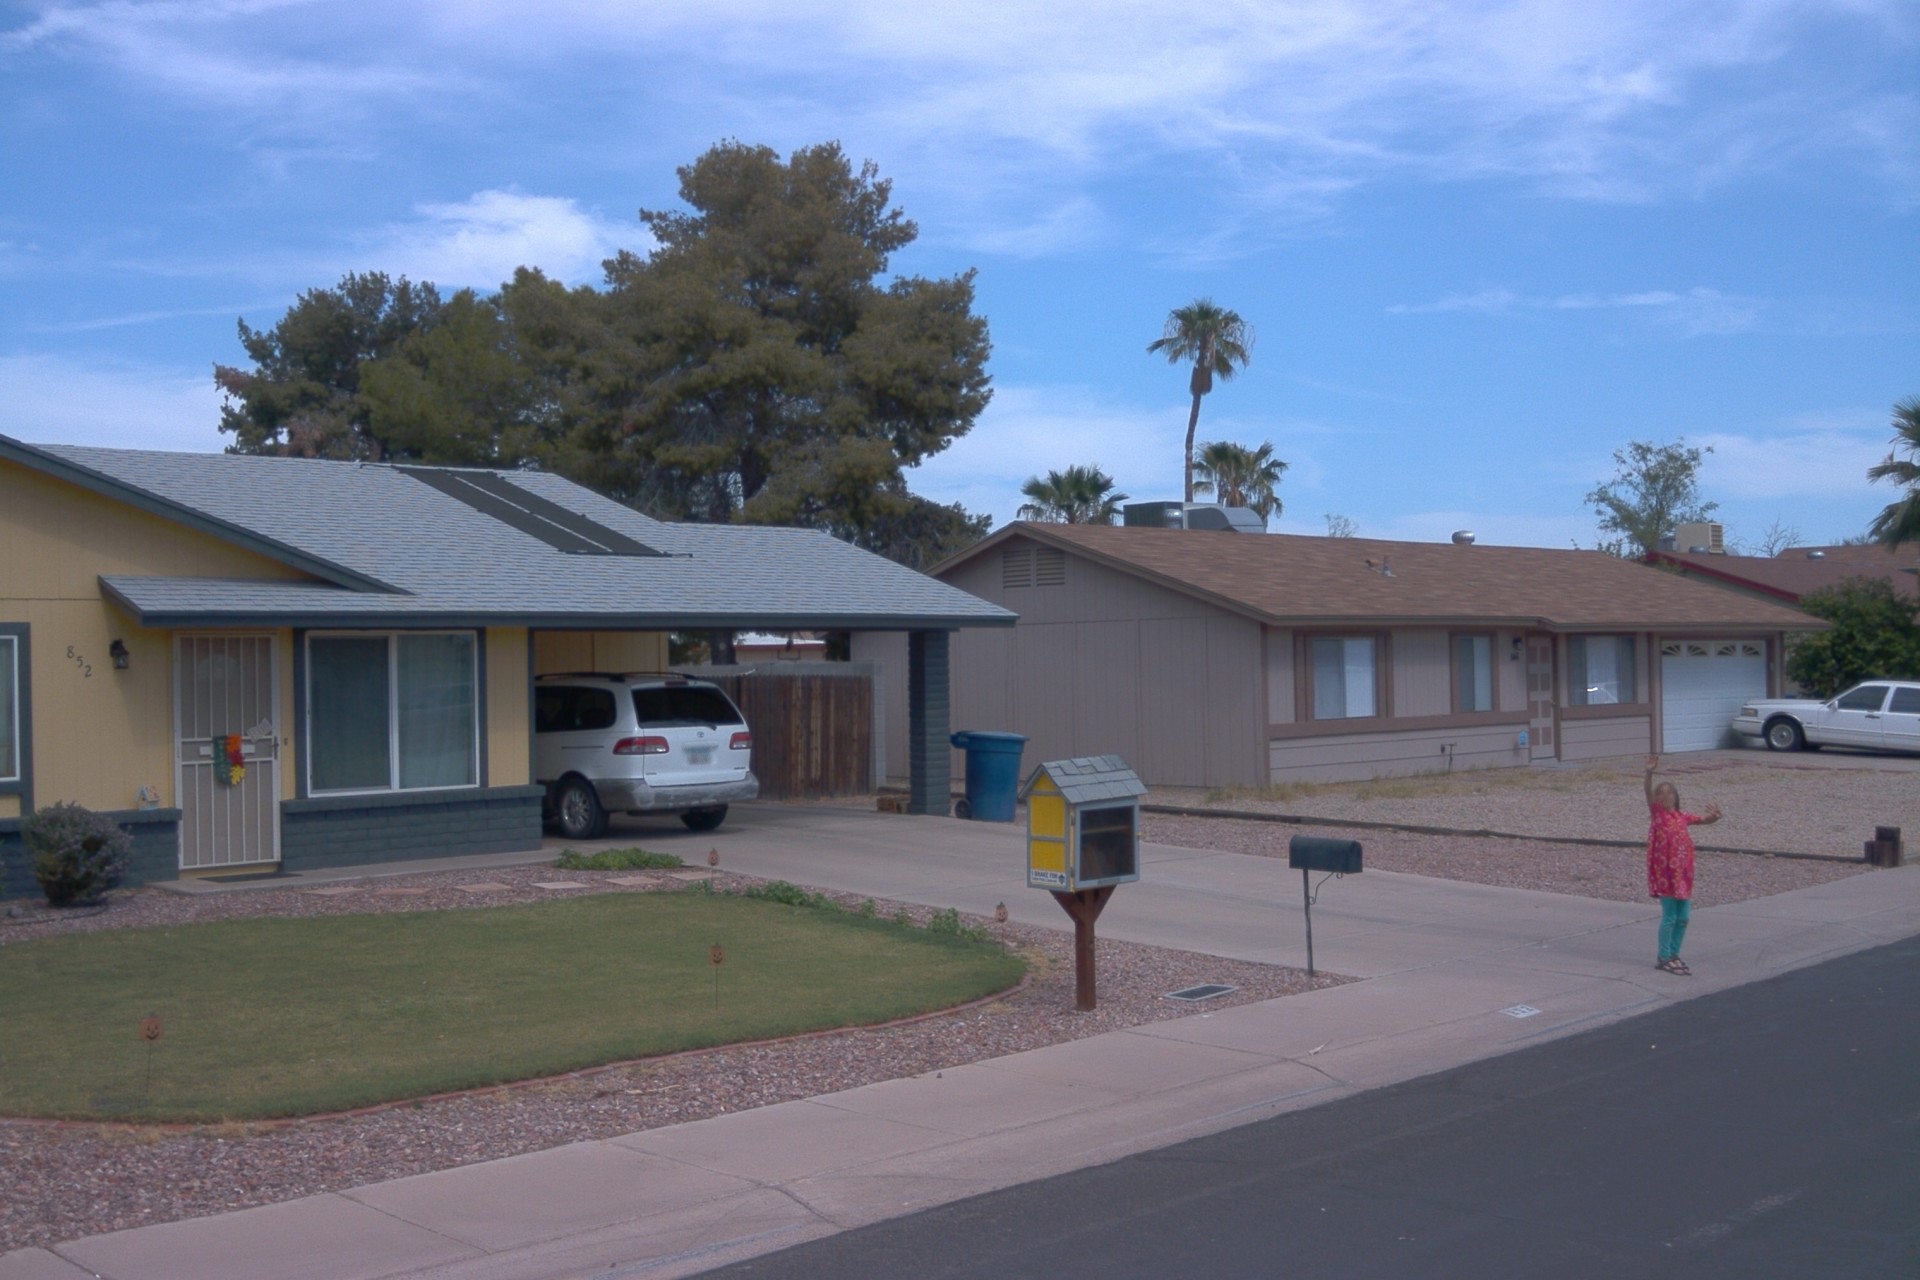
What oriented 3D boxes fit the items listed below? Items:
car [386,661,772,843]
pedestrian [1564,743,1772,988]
[{"bbox_3d":[-4.227,1.132,22.809,4.247,1.790,1.856,0,0,40],"label":"car"},{"bbox_3d":[4.904,1.530,14.486,1.023,1.580,0.956,0,0,-12],"label":"pedestrian"}]
